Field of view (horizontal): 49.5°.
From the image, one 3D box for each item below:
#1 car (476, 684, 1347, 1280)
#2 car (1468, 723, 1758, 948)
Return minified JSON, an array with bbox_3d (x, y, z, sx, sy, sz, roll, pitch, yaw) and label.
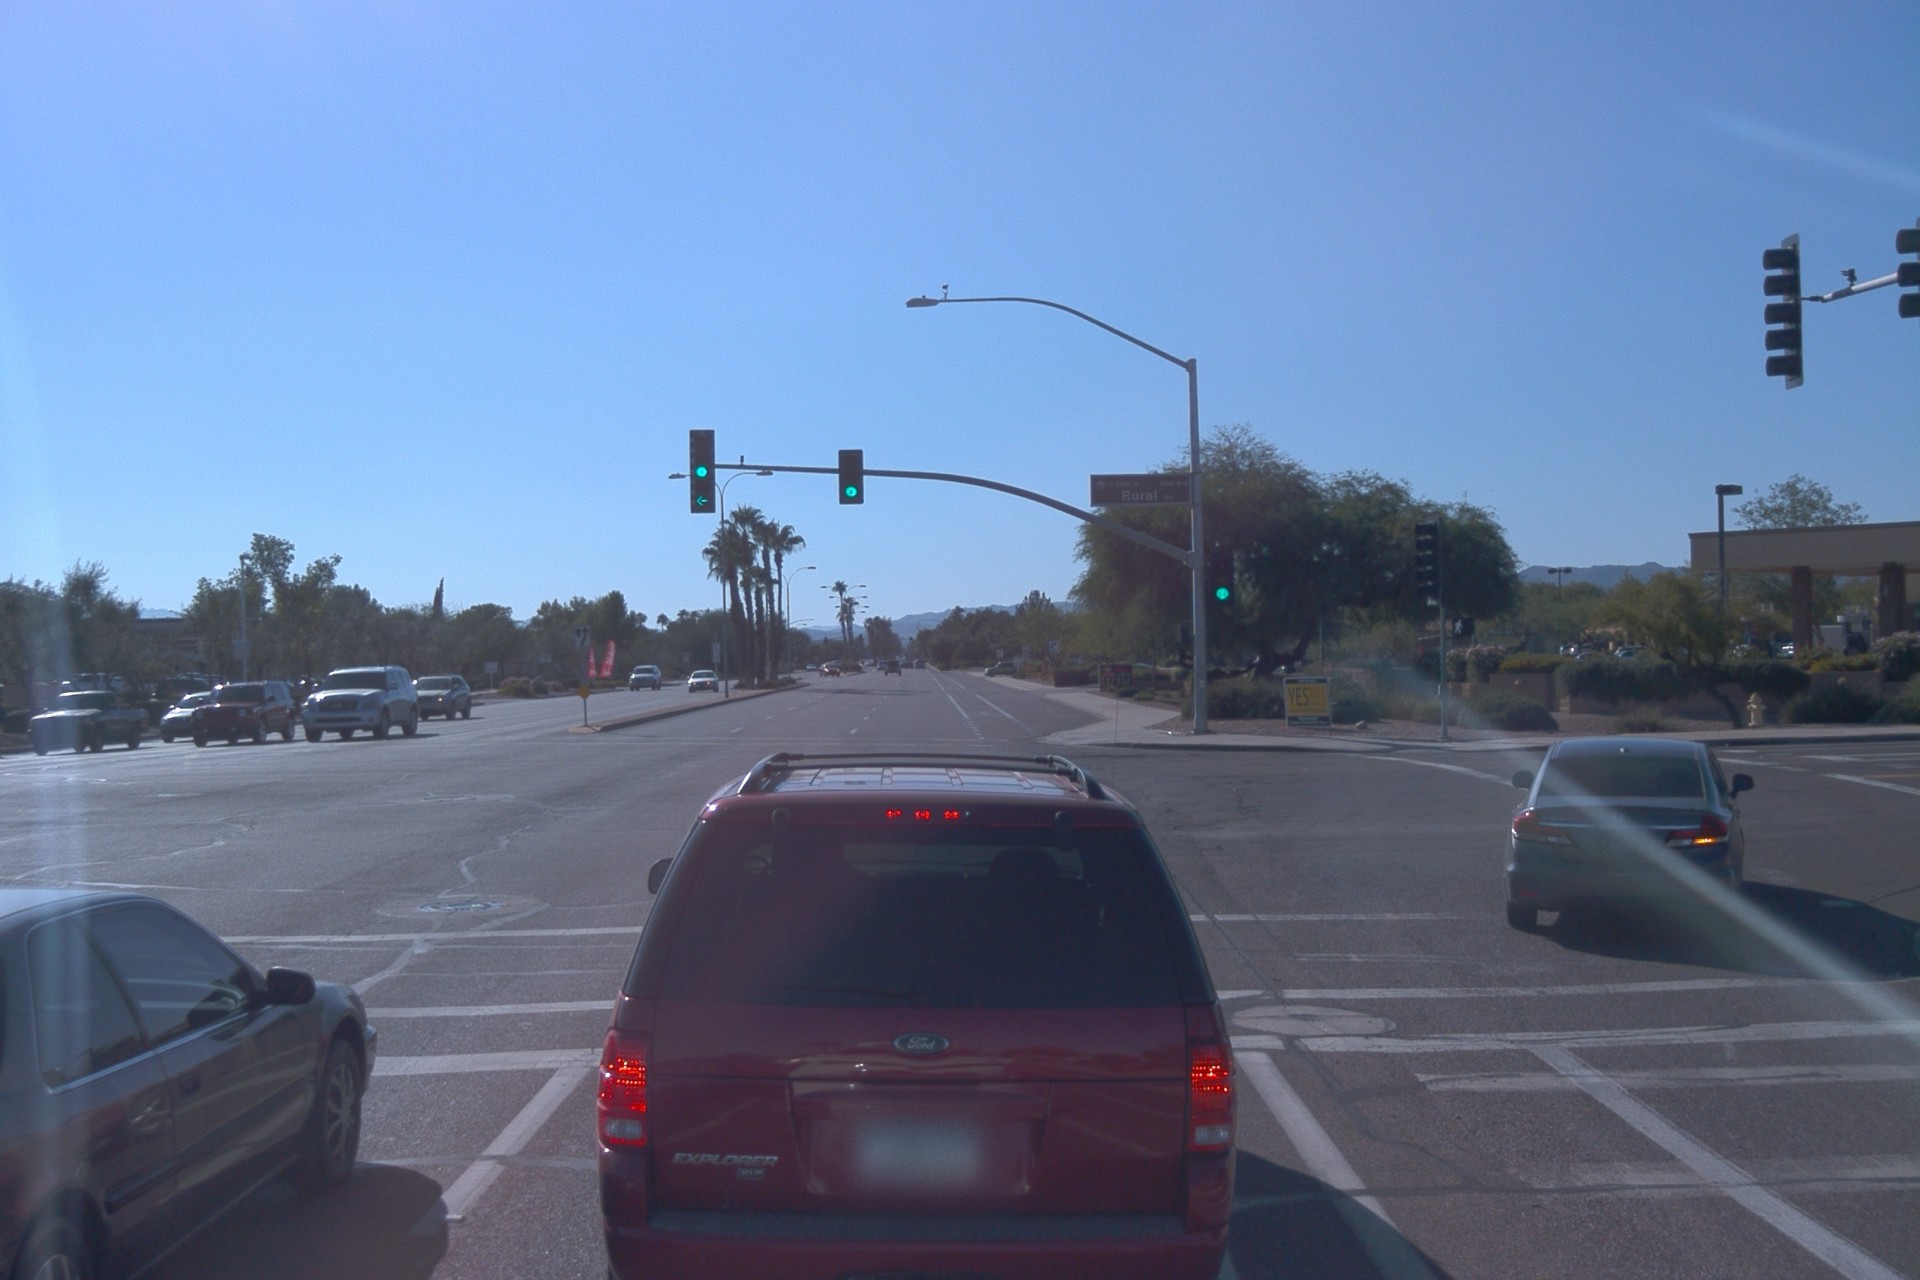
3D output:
[{"bbox_3d":[-0.181,1.202,7.464,2.169,2.040,4.462,1,-1,-2],"label":"car"},{"bbox_3d":[5.535,1.486,17.266,1.989,1.470,4.502,0,-1,21],"label":"car"}]
